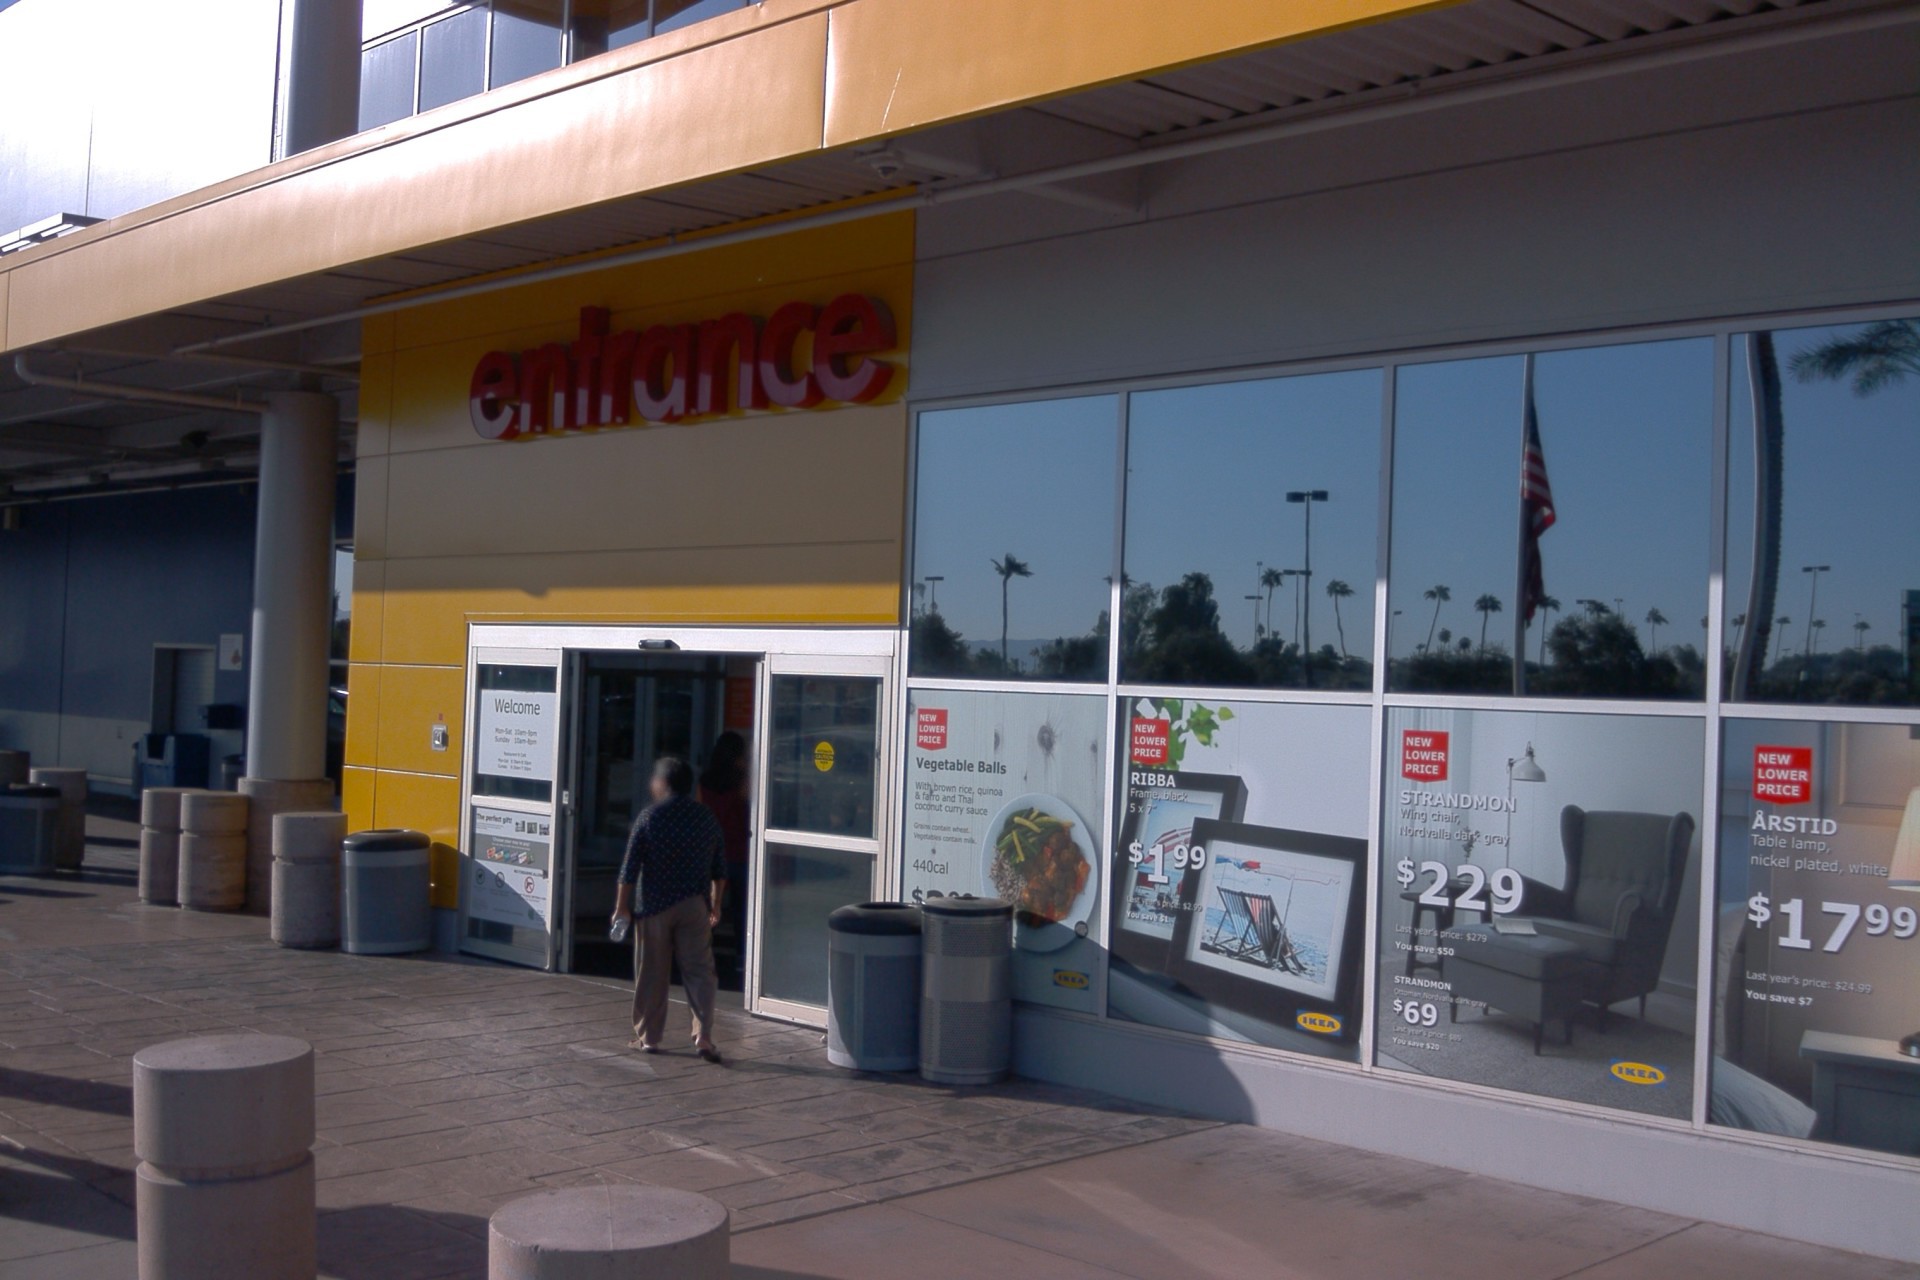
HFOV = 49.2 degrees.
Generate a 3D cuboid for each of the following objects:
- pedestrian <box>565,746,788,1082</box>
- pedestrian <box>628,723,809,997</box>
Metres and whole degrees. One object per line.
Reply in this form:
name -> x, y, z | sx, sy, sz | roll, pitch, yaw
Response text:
pedestrian -> -1.482, 1.366, 10.806 | 0.947, 1.580, 1.104 | 2, 0, -16
pedestrian -> -1.571, 1.407, 13.782 | 0.830, 1.680, 0.973 | 1, 0, 16
